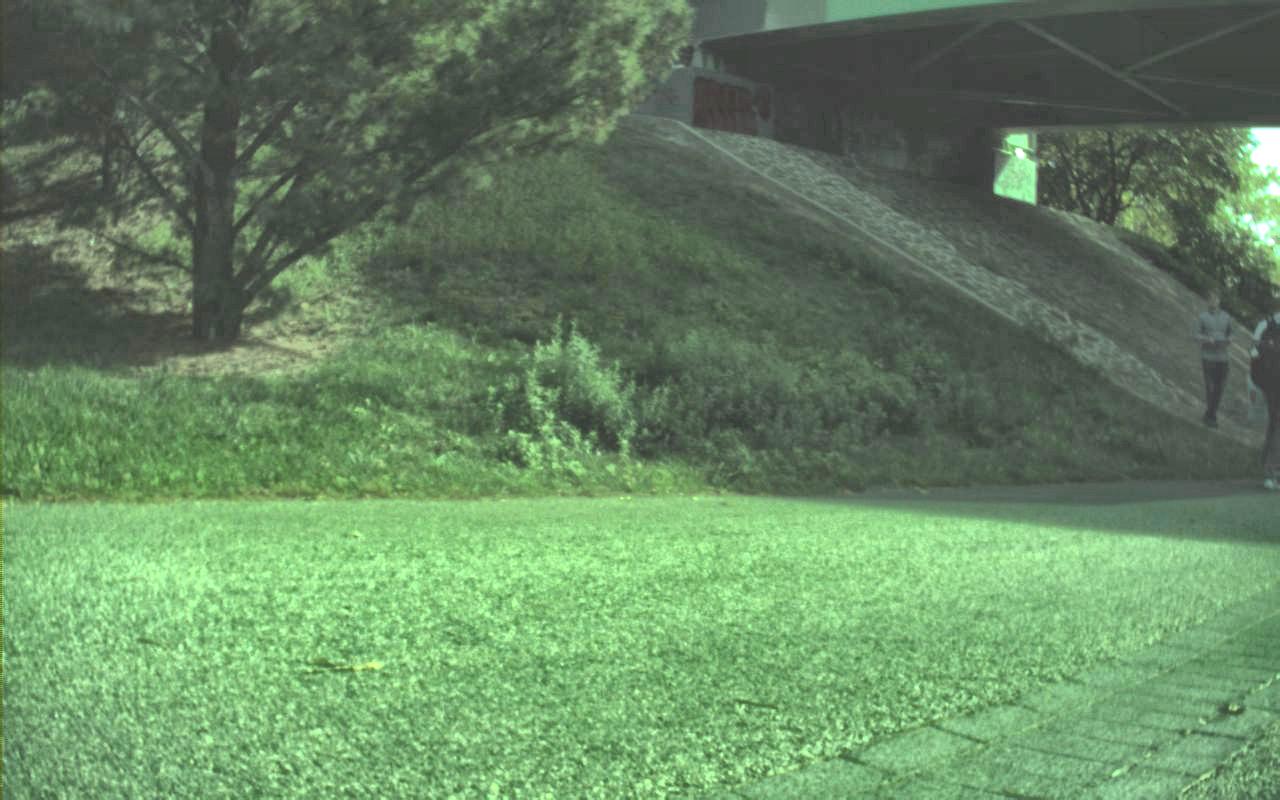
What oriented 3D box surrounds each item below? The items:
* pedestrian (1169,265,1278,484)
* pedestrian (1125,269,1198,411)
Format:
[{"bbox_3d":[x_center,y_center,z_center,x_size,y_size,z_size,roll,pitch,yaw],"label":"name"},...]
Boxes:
[{"bbox_3d":[4.804,-0.190,9.407,0.864,1.712,0.908,1,0,33],"label":"pedestrian"},{"bbox_3d":[6.969,-0.760,15.690,0.745,1.835,0.740,0,0,-15],"label":"pedestrian"}]
